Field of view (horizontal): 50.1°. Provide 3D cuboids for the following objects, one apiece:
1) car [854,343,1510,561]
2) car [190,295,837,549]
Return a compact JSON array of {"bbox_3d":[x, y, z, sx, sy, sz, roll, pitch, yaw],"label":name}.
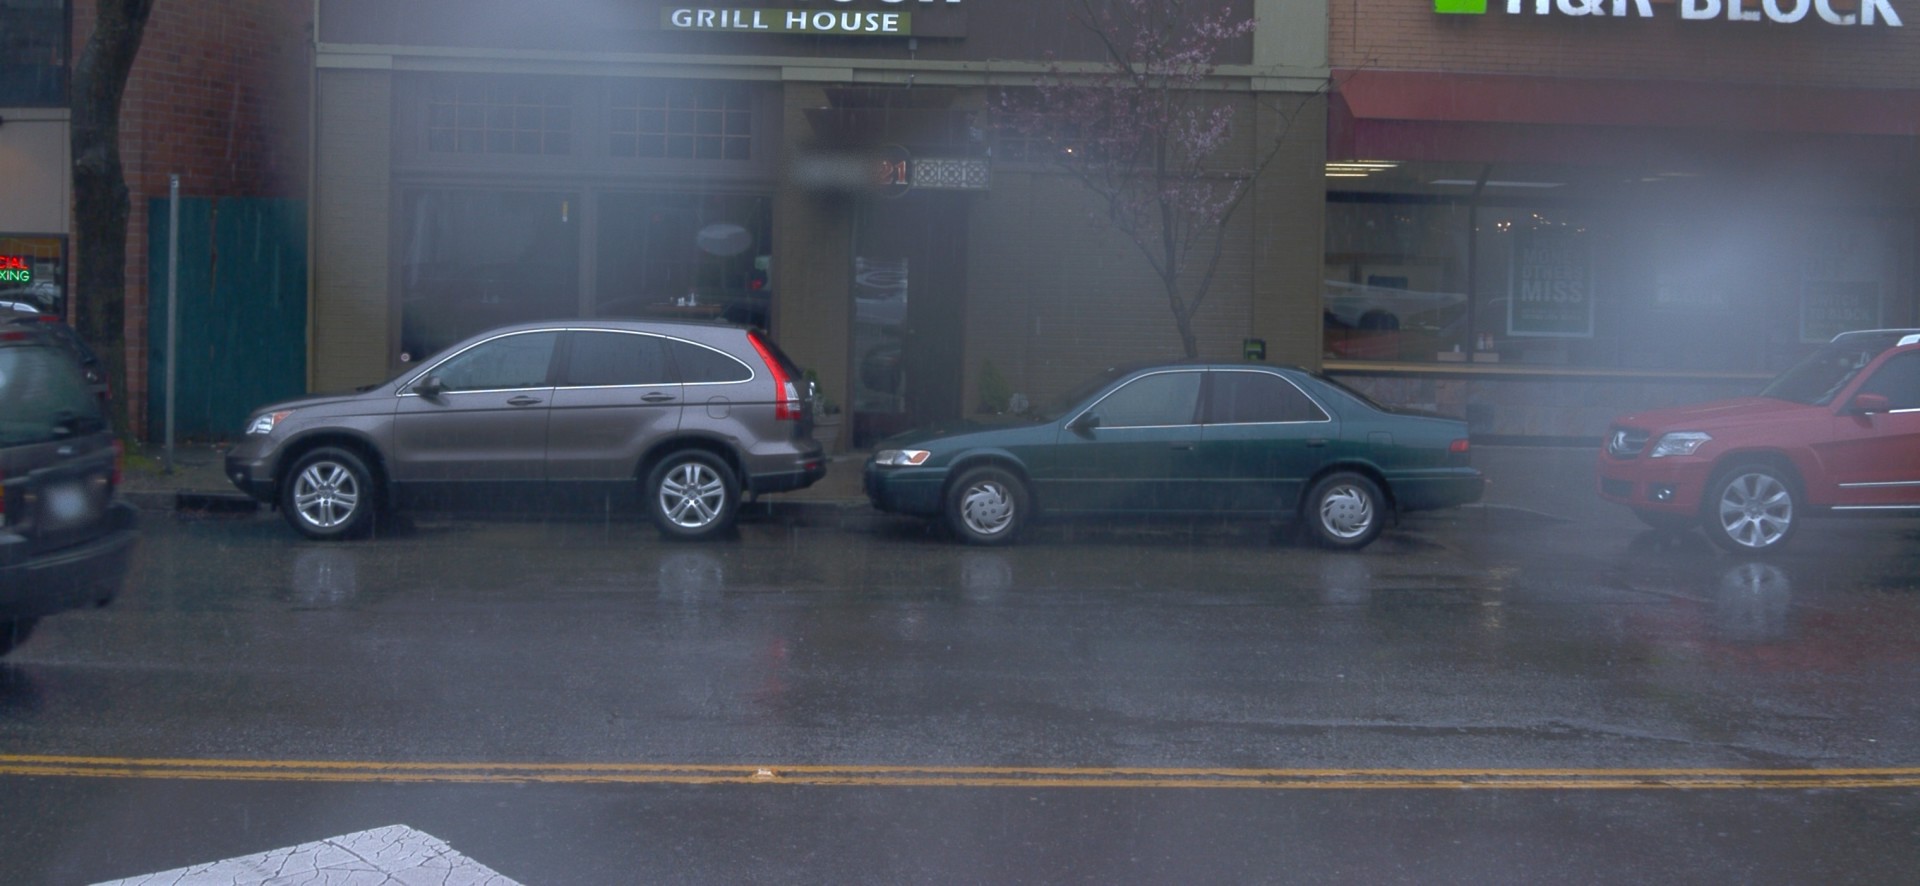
[{"bbox_3d":[1.595,0.024,15.964,4.796,1.414,1.988,1,5,-2],"label":"car"},{"bbox_3d":[-3.279,-0.208,15.797,4.605,1.724,1.918,0,4,-5],"label":"car"}]
